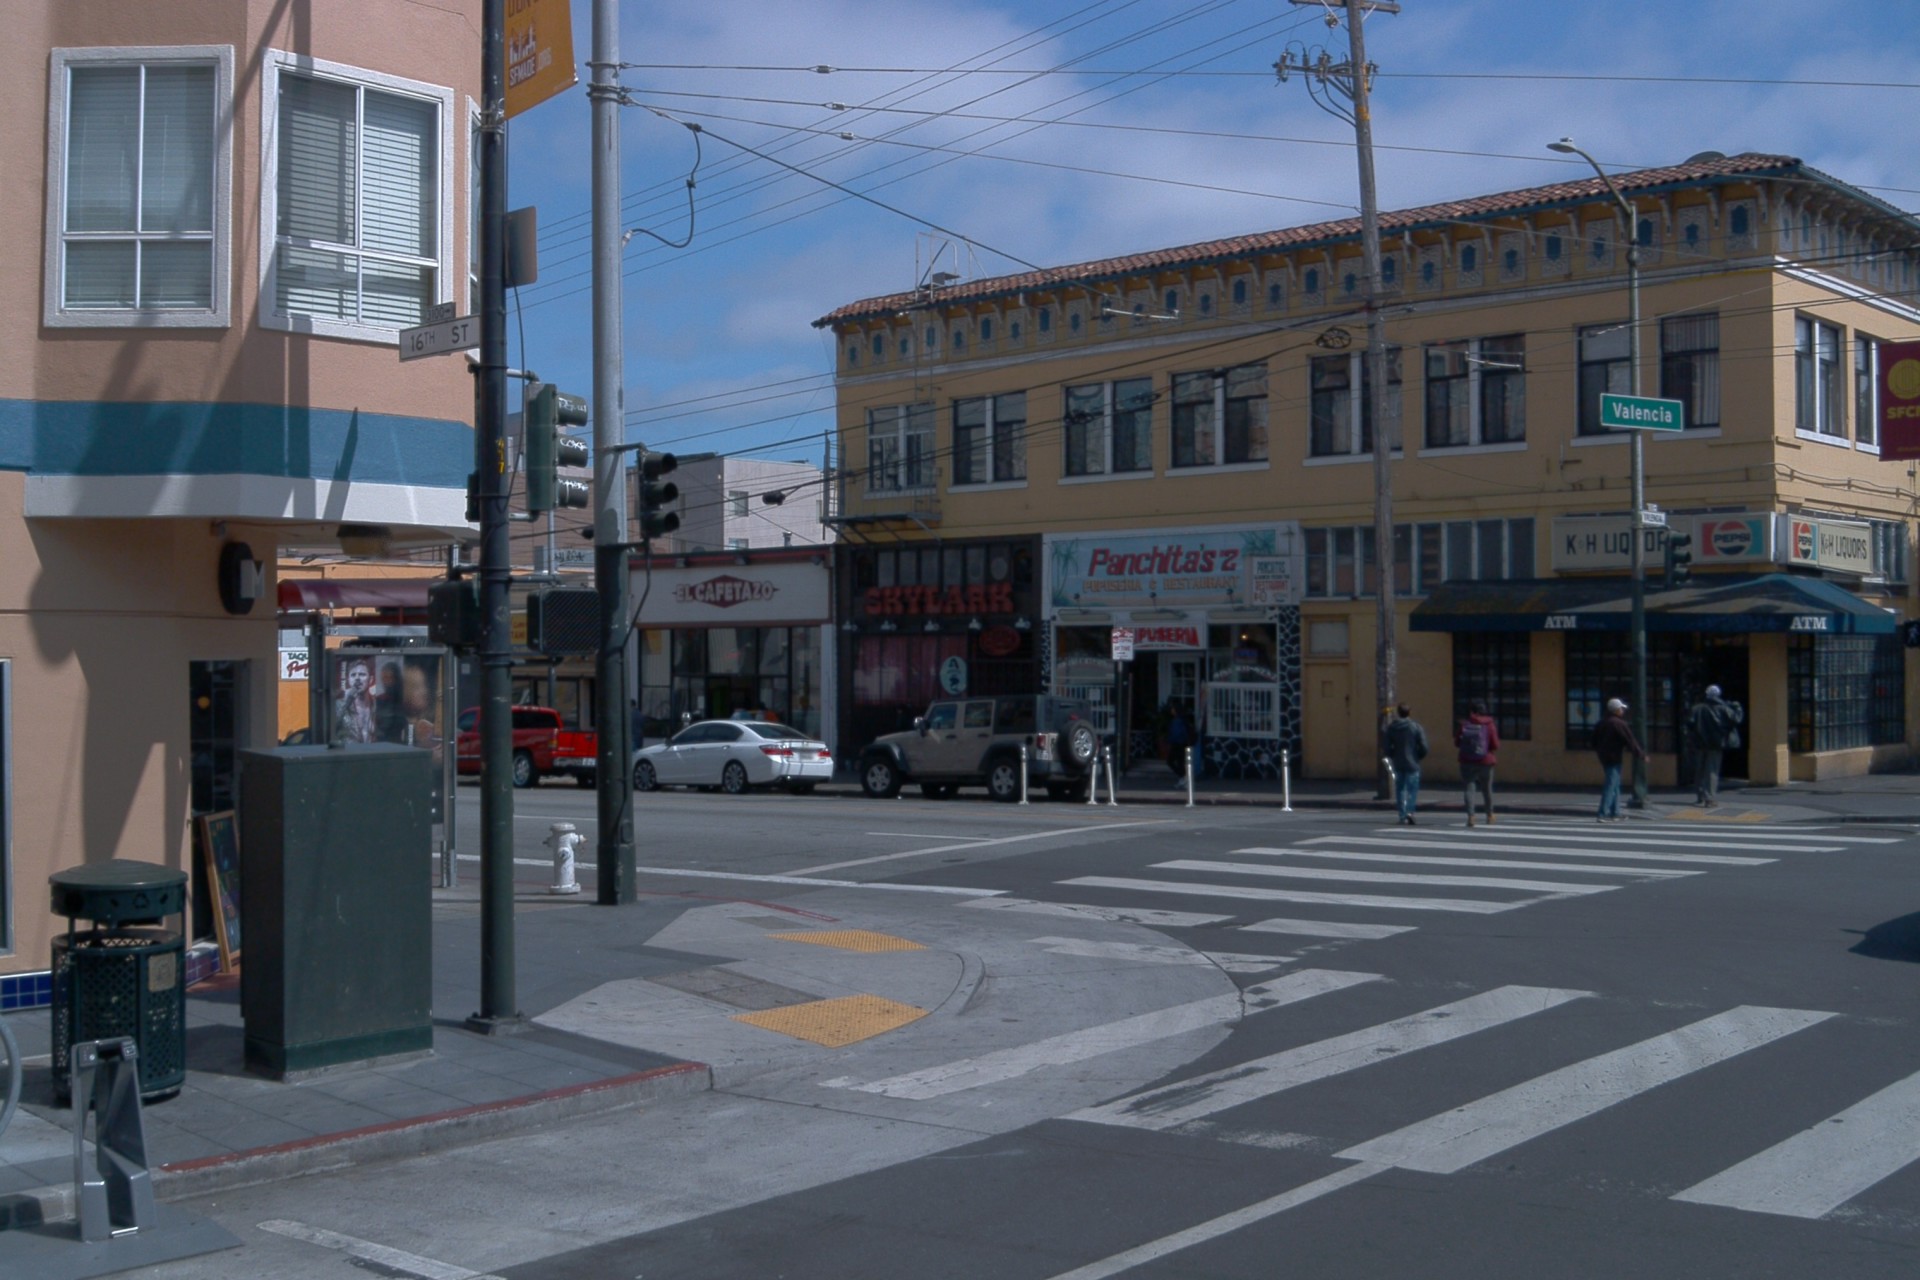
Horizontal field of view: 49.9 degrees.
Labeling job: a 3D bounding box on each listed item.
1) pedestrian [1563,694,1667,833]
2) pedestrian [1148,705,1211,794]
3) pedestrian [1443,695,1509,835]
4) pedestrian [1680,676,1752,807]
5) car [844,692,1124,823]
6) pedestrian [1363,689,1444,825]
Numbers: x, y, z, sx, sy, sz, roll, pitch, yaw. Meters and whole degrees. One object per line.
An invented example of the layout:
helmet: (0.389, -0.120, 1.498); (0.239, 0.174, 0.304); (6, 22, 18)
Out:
pedestrian: (8.591, 1.597, 27.055); (1.084, 1.730, 0.796); (-1, 1, -34)
pedestrian: (3.933, 1.953, 36.941); (0.957, 1.530, 0.767); (0, 1, 21)
pedestrian: (6.372, 1.528, 25.470); (0.747, 1.650, 0.862); (0, 1, 17)
pedestrian: (10.931, 1.454, 29.852); (0.903, 1.850, 0.715); (0, 1, 15)
car: (0.362, 1.970, 35.901); (4.715, 1.960, 2.025); (1, 1, 42)
pedestrian: (5.570, 1.453, 25.894); (0.881, 1.630, 0.915); (0, 1, 19)
